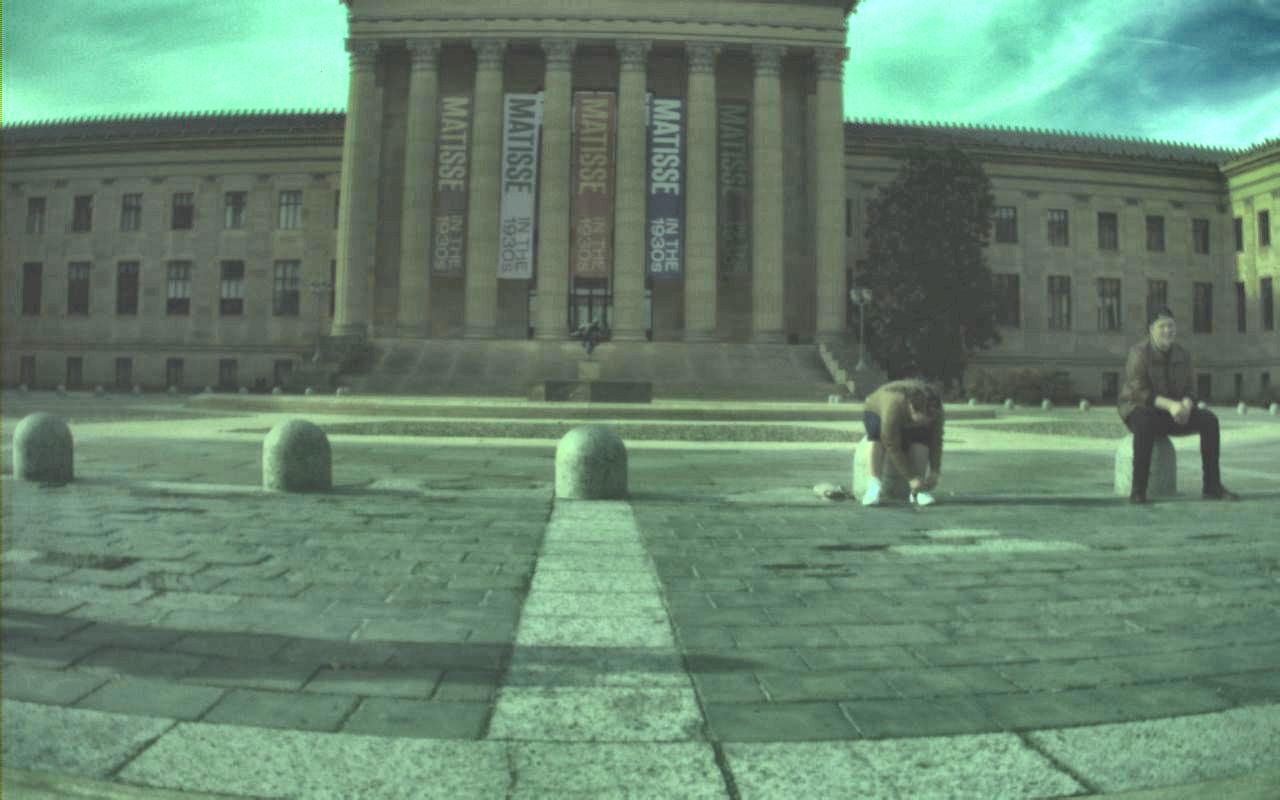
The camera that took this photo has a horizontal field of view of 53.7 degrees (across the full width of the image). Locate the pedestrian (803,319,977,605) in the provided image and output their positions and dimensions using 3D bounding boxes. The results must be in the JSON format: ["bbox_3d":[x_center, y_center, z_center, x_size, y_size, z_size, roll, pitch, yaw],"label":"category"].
[{"bbox_3d":[1.567,0.355,7.684,0.813,1.661,0.840,1,0,33],"label":"pedestrian"}]

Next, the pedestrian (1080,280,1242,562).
[{"bbox_3d":[3.497,0.140,7.873,0.834,1.780,0.834,0,0,-5],"label":"pedestrian"}]
